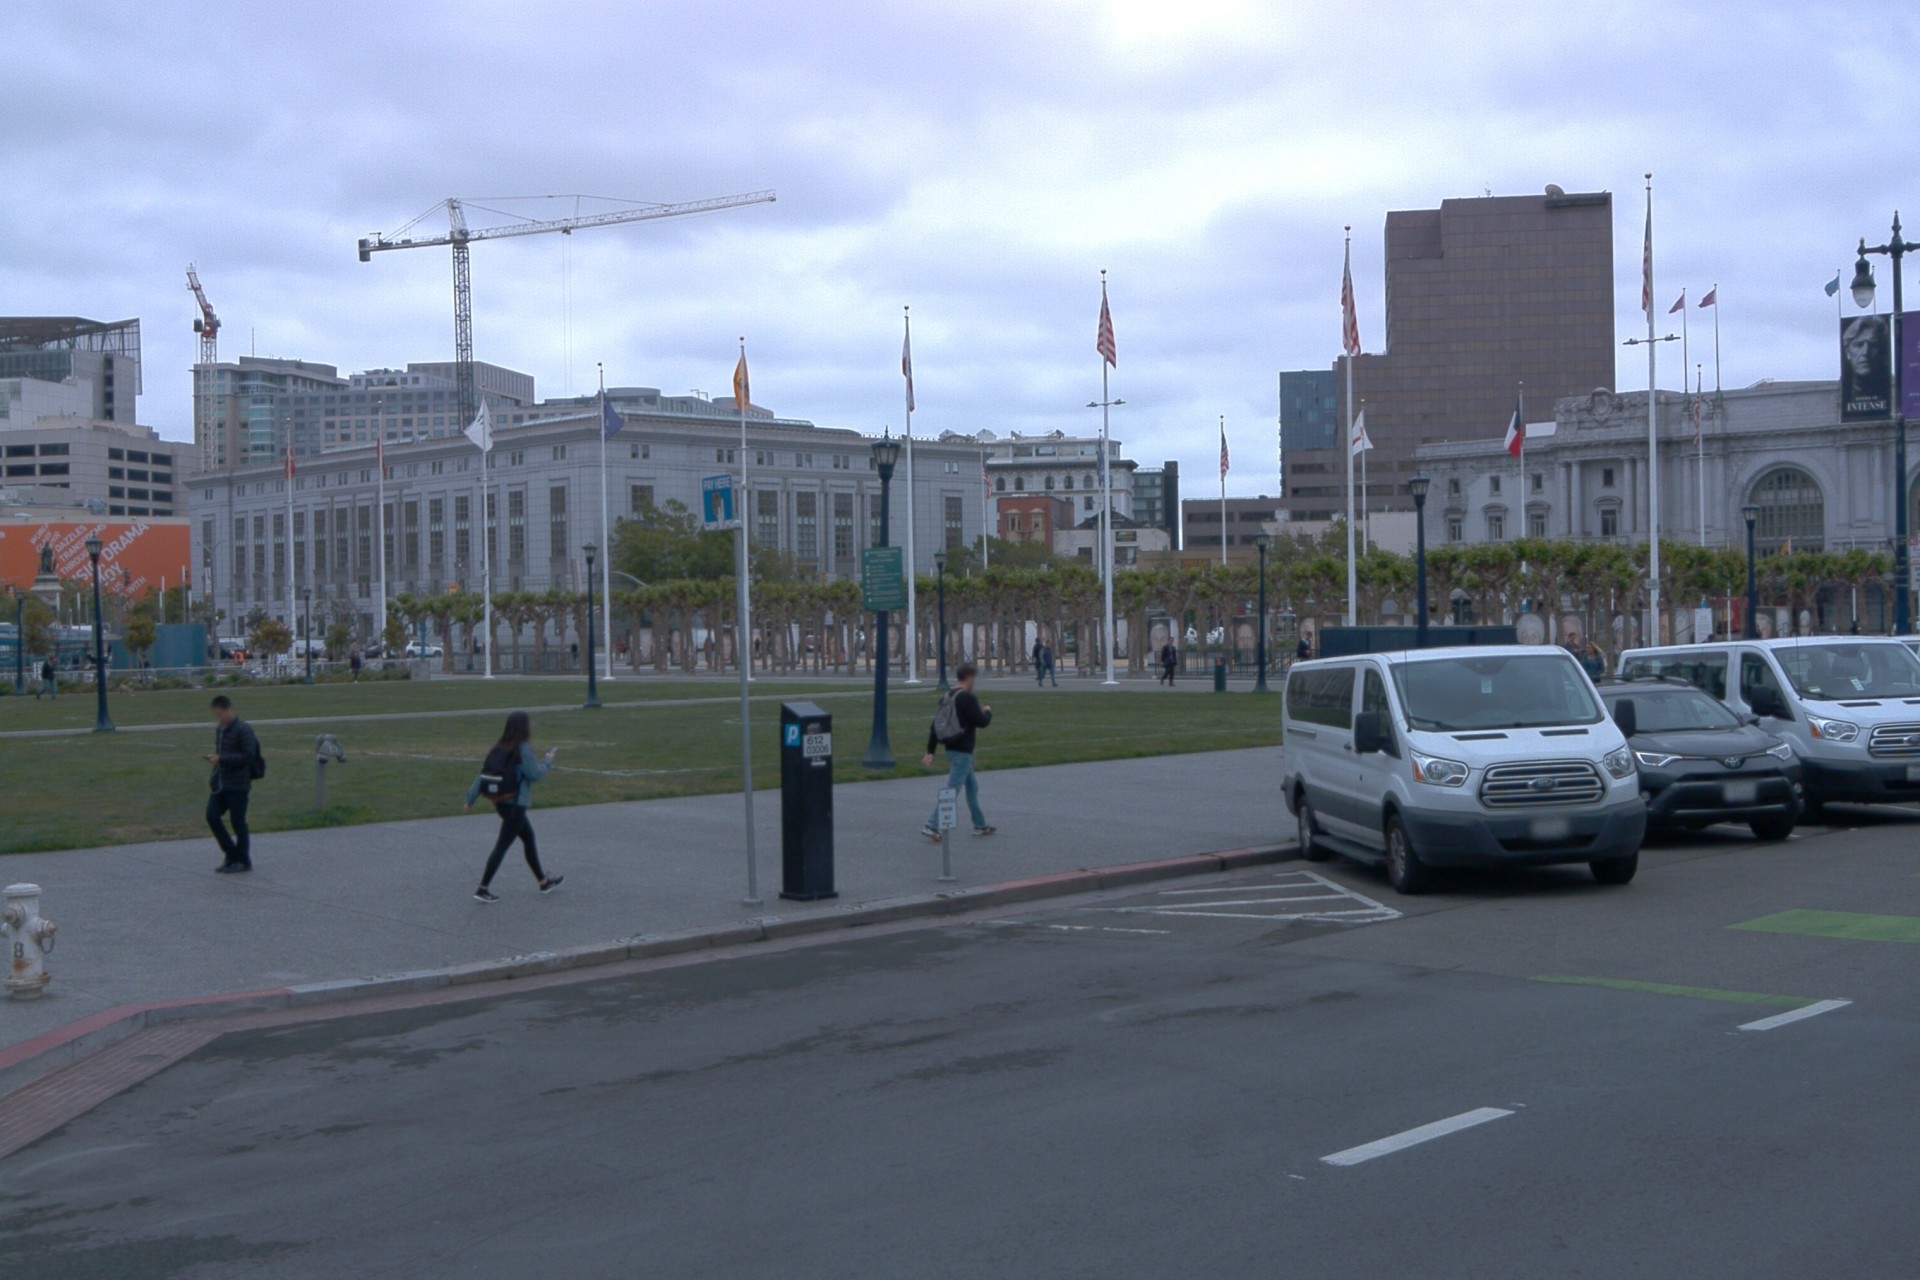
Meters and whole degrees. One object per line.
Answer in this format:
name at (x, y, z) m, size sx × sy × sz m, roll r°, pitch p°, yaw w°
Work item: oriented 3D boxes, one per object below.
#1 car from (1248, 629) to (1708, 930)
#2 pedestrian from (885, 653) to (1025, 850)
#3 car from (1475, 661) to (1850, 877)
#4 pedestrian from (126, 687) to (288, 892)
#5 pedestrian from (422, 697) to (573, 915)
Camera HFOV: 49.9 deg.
car at (4.478, 1.069, 19.190) m, size 2.510 × 2.264 × 6.132 m, roll 0°, pitch 1°, yaw -3°
pedestrian at (-0.045, 1.142, 21.736) m, size 1.206 × 1.964 × 0.862 m, roll -1°, pitch 1°, yaw -43°
car at (7.246, 1.248, 21.892) m, size 2.151 × 1.907 × 4.627 m, roll 0°, pitch 1°, yaw -4°
pedestrian at (-6.979, 1.355, 19.153) m, size 0.965 × 1.774 × 1.027 m, roll 1°, pitch 1°, yaw 32°
pedestrian at (-3.932, 1.379, 17.549) m, size 0.789 × 1.734 × 0.970 m, roll 1°, pitch 1°, yaw 44°
